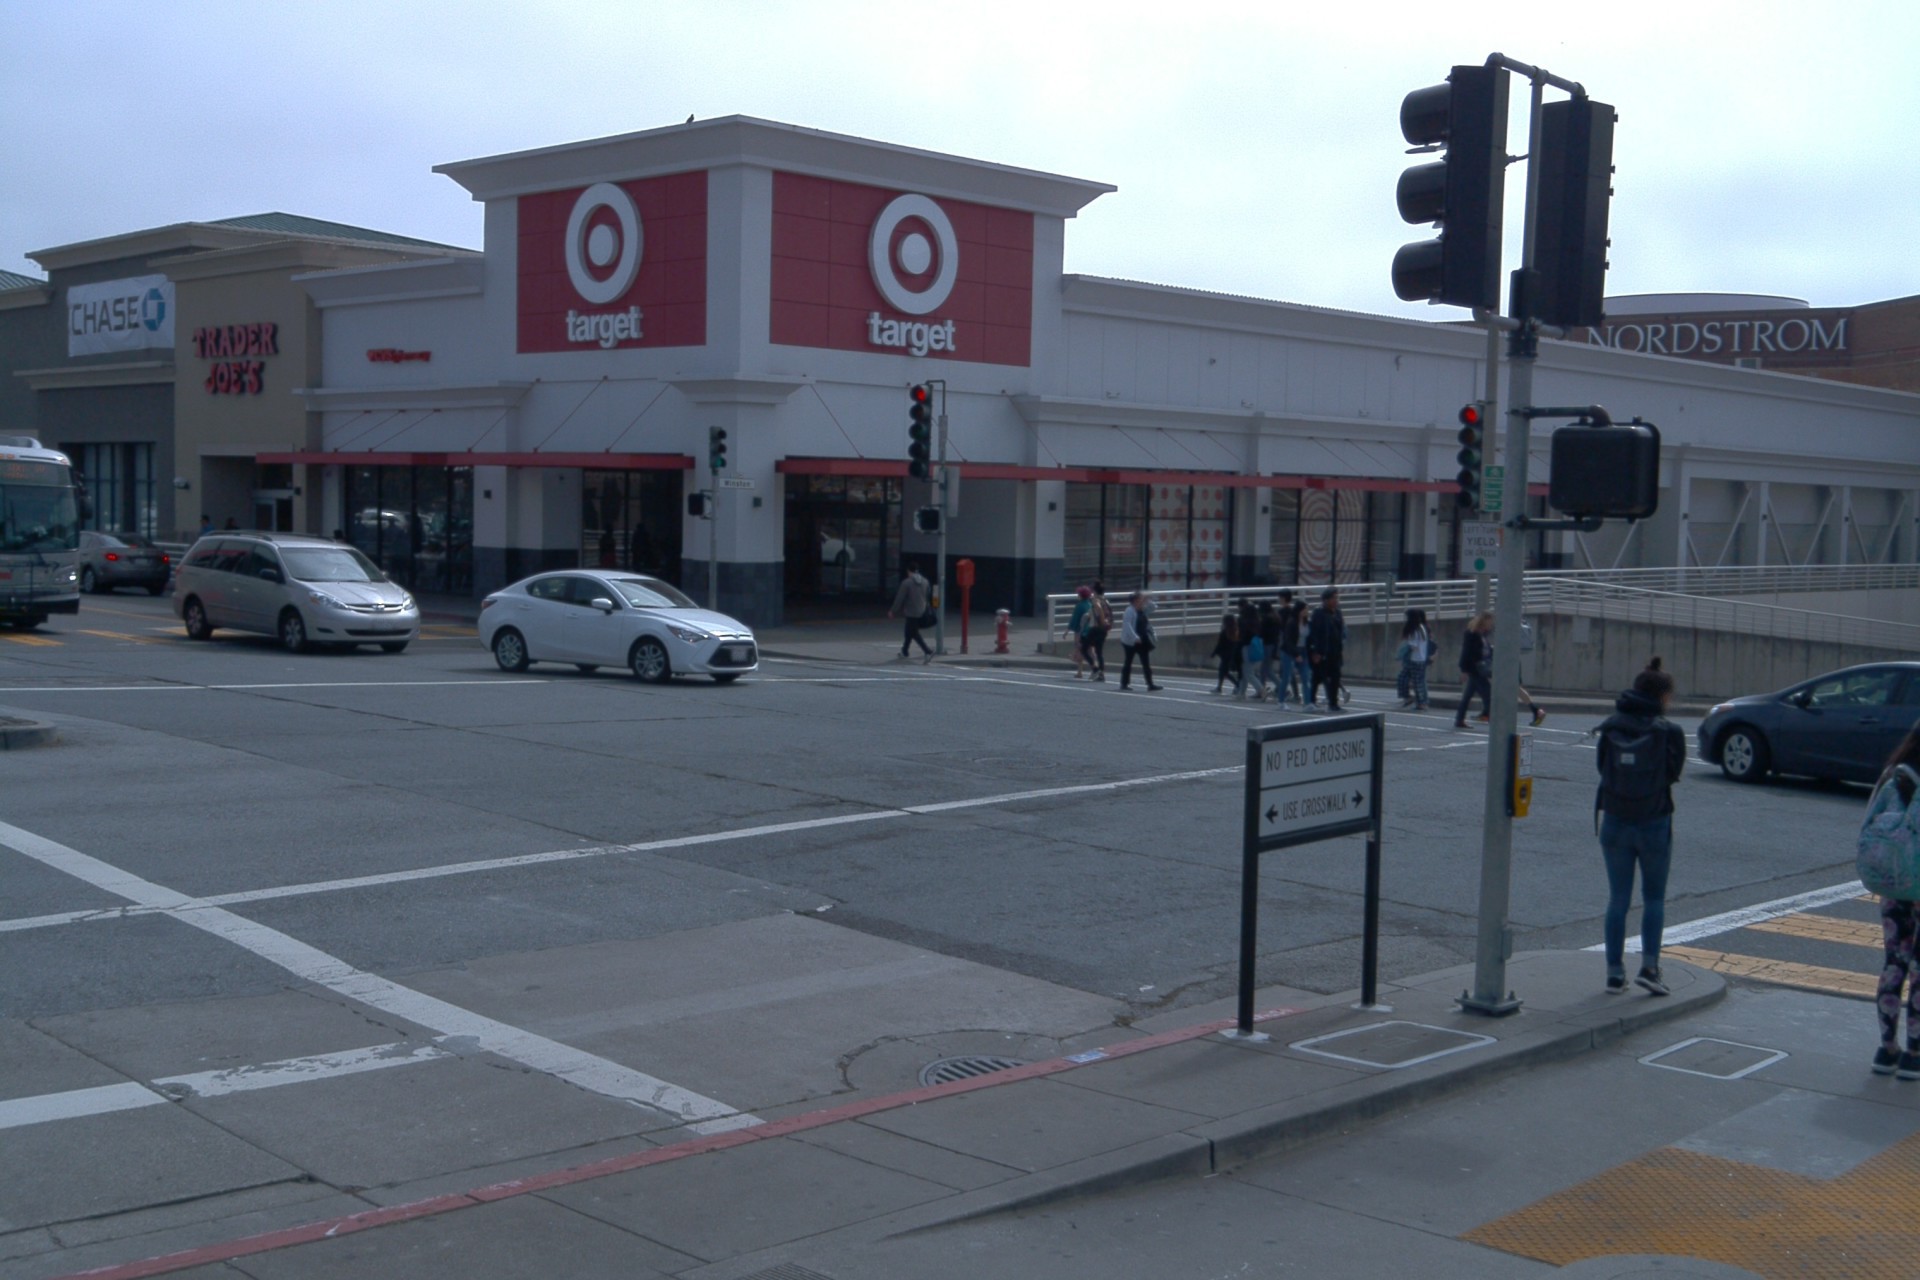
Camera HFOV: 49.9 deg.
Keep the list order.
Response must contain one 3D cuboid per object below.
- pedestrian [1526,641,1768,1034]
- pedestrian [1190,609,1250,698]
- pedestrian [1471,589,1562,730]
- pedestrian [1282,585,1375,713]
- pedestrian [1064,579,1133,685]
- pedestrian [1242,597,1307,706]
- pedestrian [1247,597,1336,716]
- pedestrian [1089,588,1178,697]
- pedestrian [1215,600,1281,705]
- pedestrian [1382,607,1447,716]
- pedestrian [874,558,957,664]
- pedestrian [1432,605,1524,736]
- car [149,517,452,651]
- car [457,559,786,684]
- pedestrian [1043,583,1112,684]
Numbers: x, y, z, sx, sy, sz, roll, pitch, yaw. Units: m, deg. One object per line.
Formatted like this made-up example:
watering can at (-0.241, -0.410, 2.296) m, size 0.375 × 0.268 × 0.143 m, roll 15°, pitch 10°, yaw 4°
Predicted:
pedestrian at (3.321, 0.896, 9.963) m, size 0.843 × 1.760 × 0.940 m, roll 0°, pitch 1°, yaw 37°
pedestrian at (4.019, 0.206, 31.925) m, size 0.769 × 1.360 × 0.521 m, roll 1°, pitch 1°, yaw 42°
pedestrian at (7.864, 0.261, 29.174) m, size 1.039 × 1.960 × 0.717 m, roll 1°, pitch 1°, yaw 41°
pedestrian at (5.145, 0.115, 28.875) m, size 0.795 × 1.750 × 1.018 m, roll -1°, pitch 1°, yaw -34°
pedestrian at (2.261, -0.136, 33.738) m, size 0.895 × 1.700 × 0.689 m, roll 1°, pitch 1°, yaw 43°
pedestrian at (4.696, 0.168, 30.815) m, size 0.587 × 1.600 × 0.758 m, roll -1°, pitch 1°, yaw -42°
pedestrian at (4.609, 0.217, 28.741) m, size 0.742 × 1.630 × 0.987 m, roll -1°, pitch 1°, yaw -36°
pedestrian at (2.624, 0.033, 31.222) m, size 0.972 × 1.610 × 0.944 m, roll 1°, pitch 1°, yaw 43°
pedestrian at (4.259, 0.173, 30.502) m, size 0.707 × 1.530 × 0.680 m, roll 1°, pitch 1°, yaw 44°
pedestrian at (6.847, 0.316, 31.063) m, size 0.891 × 1.630 × 0.611 m, roll 0°, pitch 1°, yaw 18°
pedestrian at (-0.790, -0.512, 36.558) m, size 1.043 × 1.850 × 1.025 m, roll 0°, pitch 1°, yaw 39°
pedestrian at (6.815, 0.384, 27.155) m, size 0.926 × 1.680 × 0.769 m, roll 1°, pitch 1°, yaw 39°
car at (-10.568, -0.854, 32.895) m, size 5.161 × 1.970 × 2.221 m, roll 1°, pitch 1°, yaw 41°
car at (-4.697, -0.265, 28.454) m, size 4.369 × 1.600 × 1.885 m, roll 0°, pitch 1°, yaw 34°
pedestrian at (1.979, -0.122, 34.671) m, size 0.873 × 1.670 × 0.783 m, roll 0°, pitch 1°, yaw 36°
